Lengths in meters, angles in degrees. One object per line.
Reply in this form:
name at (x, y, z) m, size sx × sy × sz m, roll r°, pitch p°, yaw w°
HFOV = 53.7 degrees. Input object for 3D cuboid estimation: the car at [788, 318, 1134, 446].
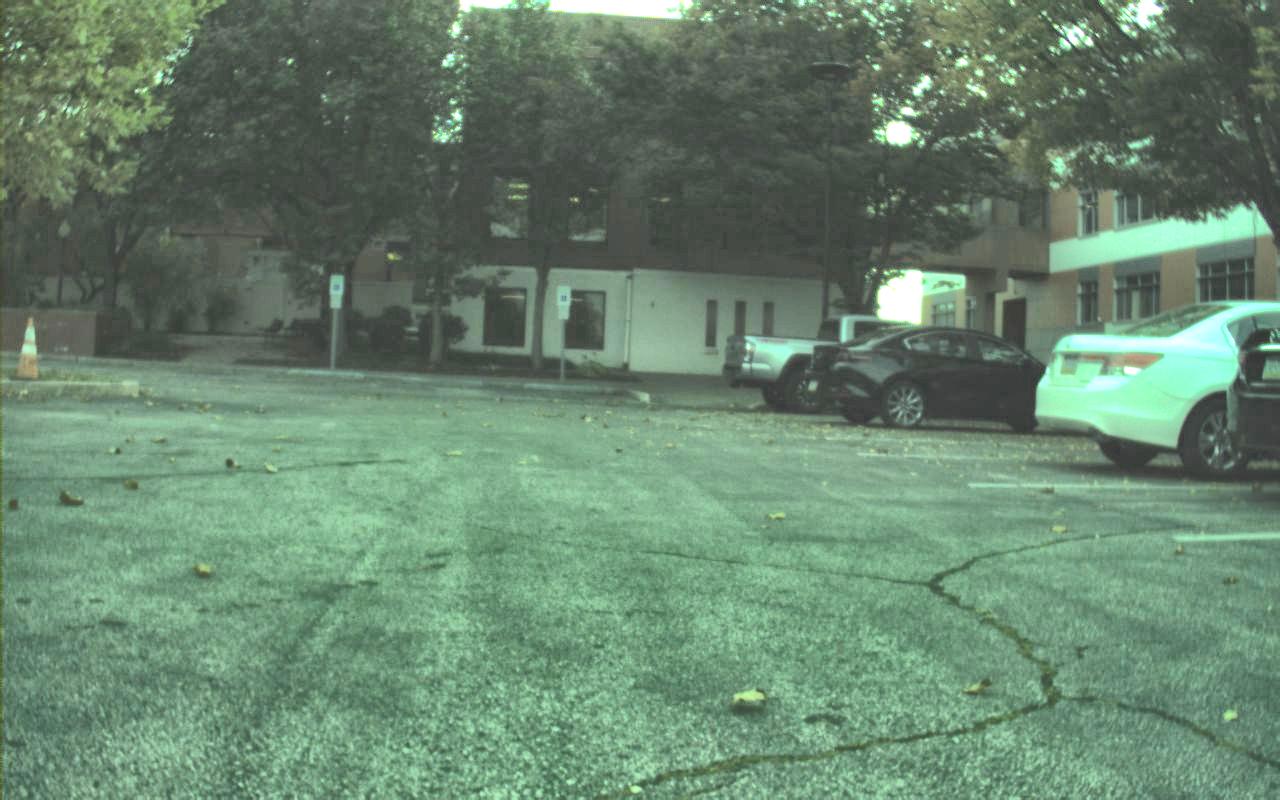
car at (4.552, -0.250, 17.233) m, size 4.606 × 1.602 × 1.966 m, roll 0°, pitch 1°, yaw -15°

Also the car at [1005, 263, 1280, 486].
car at (5.450, -0.181, 9.622) m, size 4.540 × 1.582 × 1.946 m, roll 0°, pitch 1°, yaw -6°

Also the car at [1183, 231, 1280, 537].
car at (5.929, -0.074, 7.027) m, size 4.418 × 1.655 × 1.951 m, roll 0°, pitch 1°, yaw -6°

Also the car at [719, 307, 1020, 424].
car at (4.060, -0.587, 22.197) m, size 5.020 × 1.946 × 2.117 m, roll 0°, pitch 1°, yaw -7°
